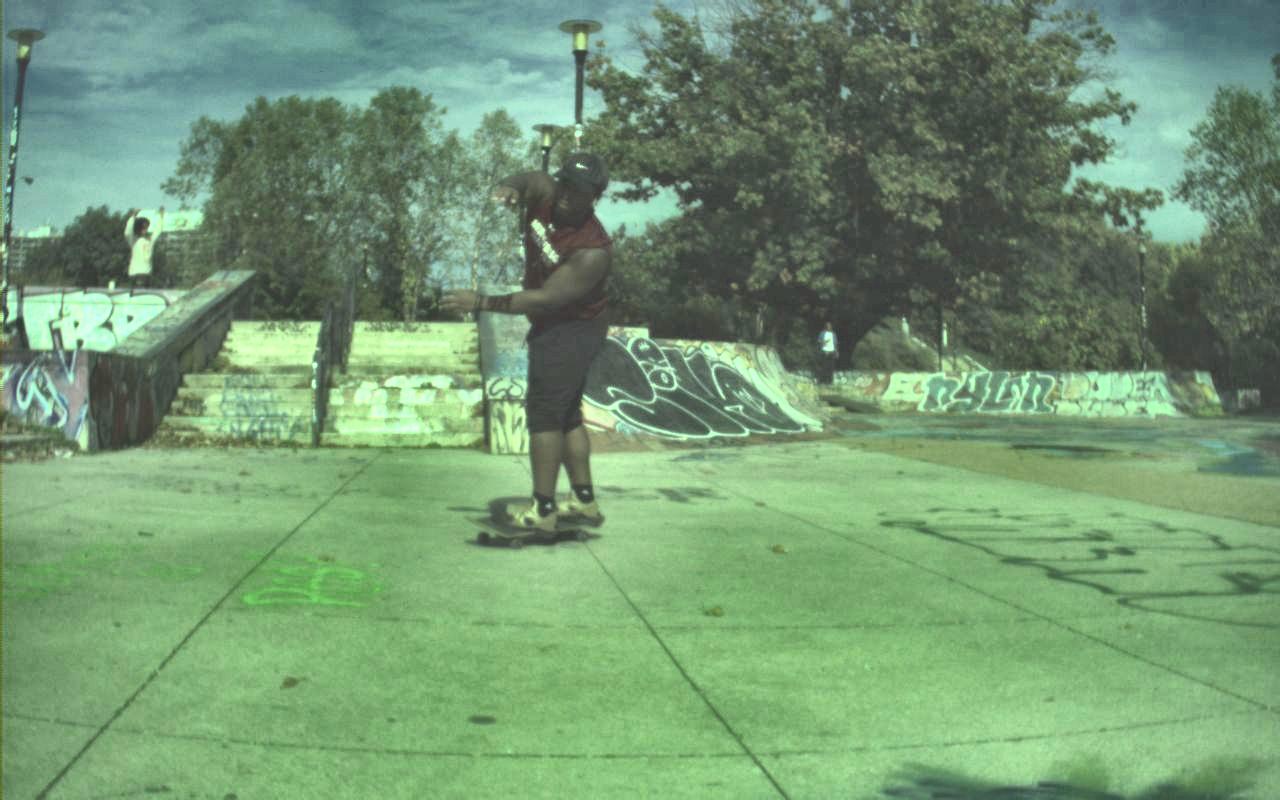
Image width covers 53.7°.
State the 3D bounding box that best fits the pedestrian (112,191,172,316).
[{"bbox_3d":[-7.847,-2.244,18.389,0.665,1.908,0.699,0,0,6],"label":"pedestrian"}]

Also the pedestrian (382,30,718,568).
[{"bbox_3d":[-0.356,-0.373,4.926,1.014,1.867,0.855,0,0,-43],"label":"pedestrian"}]
